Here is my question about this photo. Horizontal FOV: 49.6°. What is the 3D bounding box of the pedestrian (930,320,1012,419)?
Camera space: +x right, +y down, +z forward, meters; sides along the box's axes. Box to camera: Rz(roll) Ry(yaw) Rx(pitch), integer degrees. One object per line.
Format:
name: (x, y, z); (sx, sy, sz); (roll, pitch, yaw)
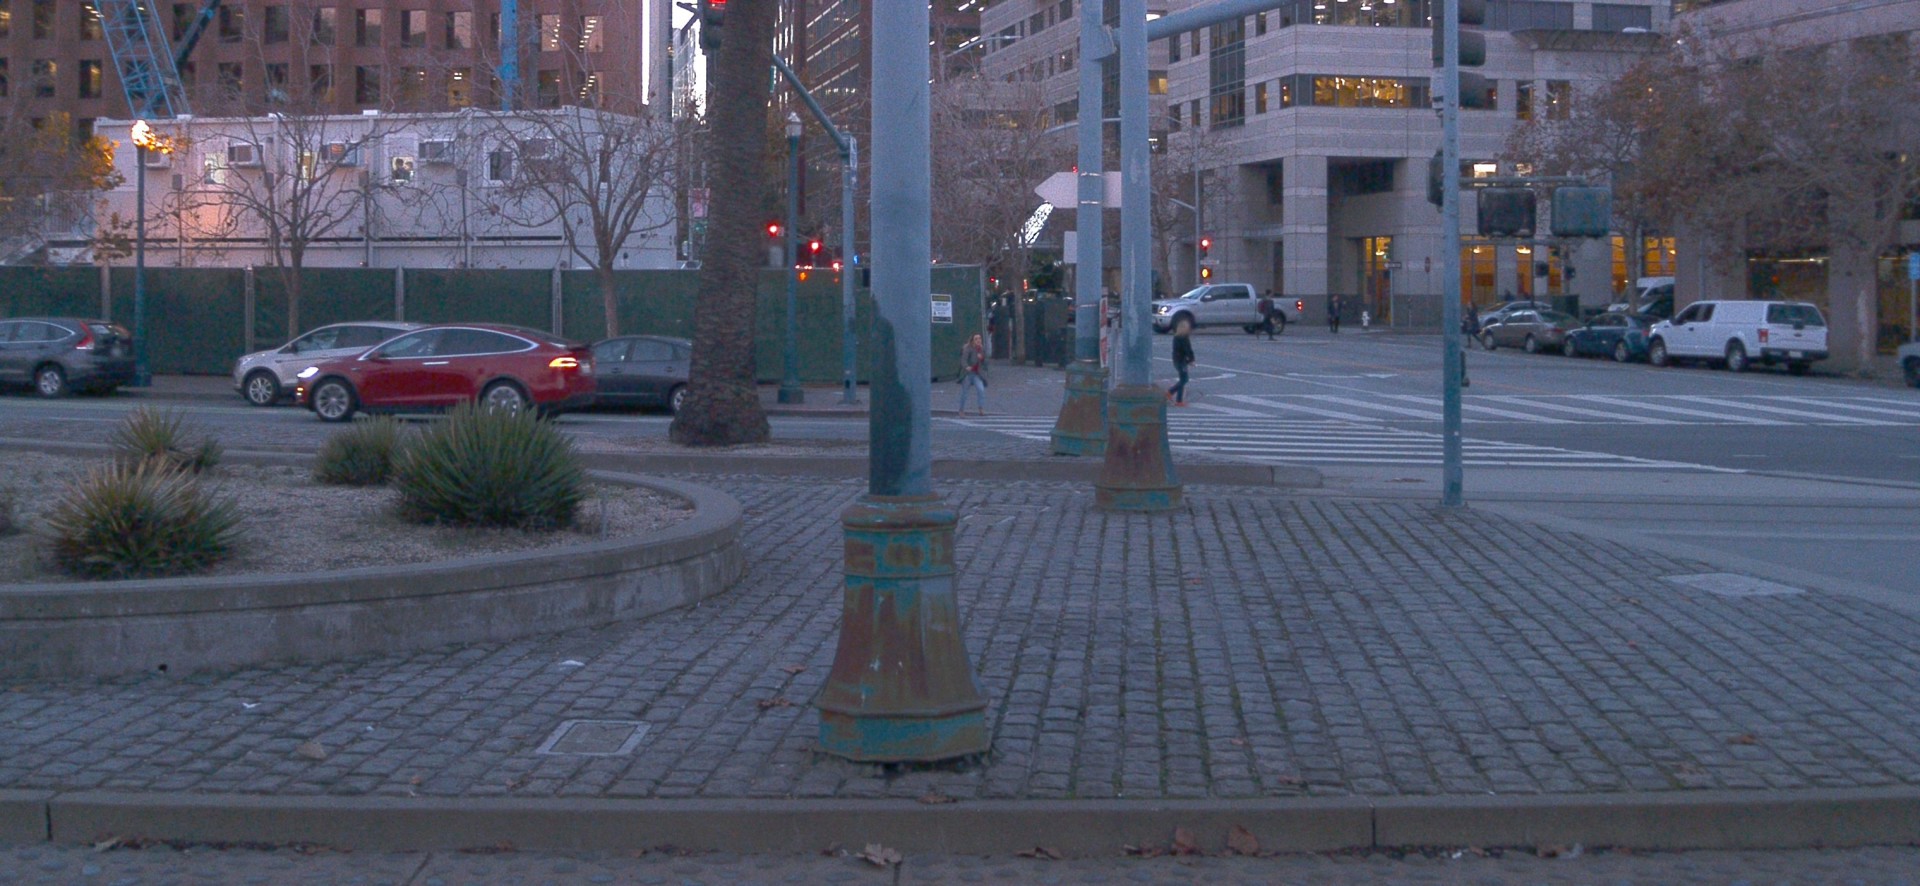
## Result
pedestrian: (0.187, -1.332, 37.290); (1.055, 1.677, 1.162); (-1, 3, -25)

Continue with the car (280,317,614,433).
car: (-8.521, -1.174, 34.698); (4.961, 1.675, 2.202); (1, 4, 9)

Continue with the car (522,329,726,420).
car: (-6.208, -1.292, 38.464); (3.390, 1.486, 1.558); (2, 4, 17)
